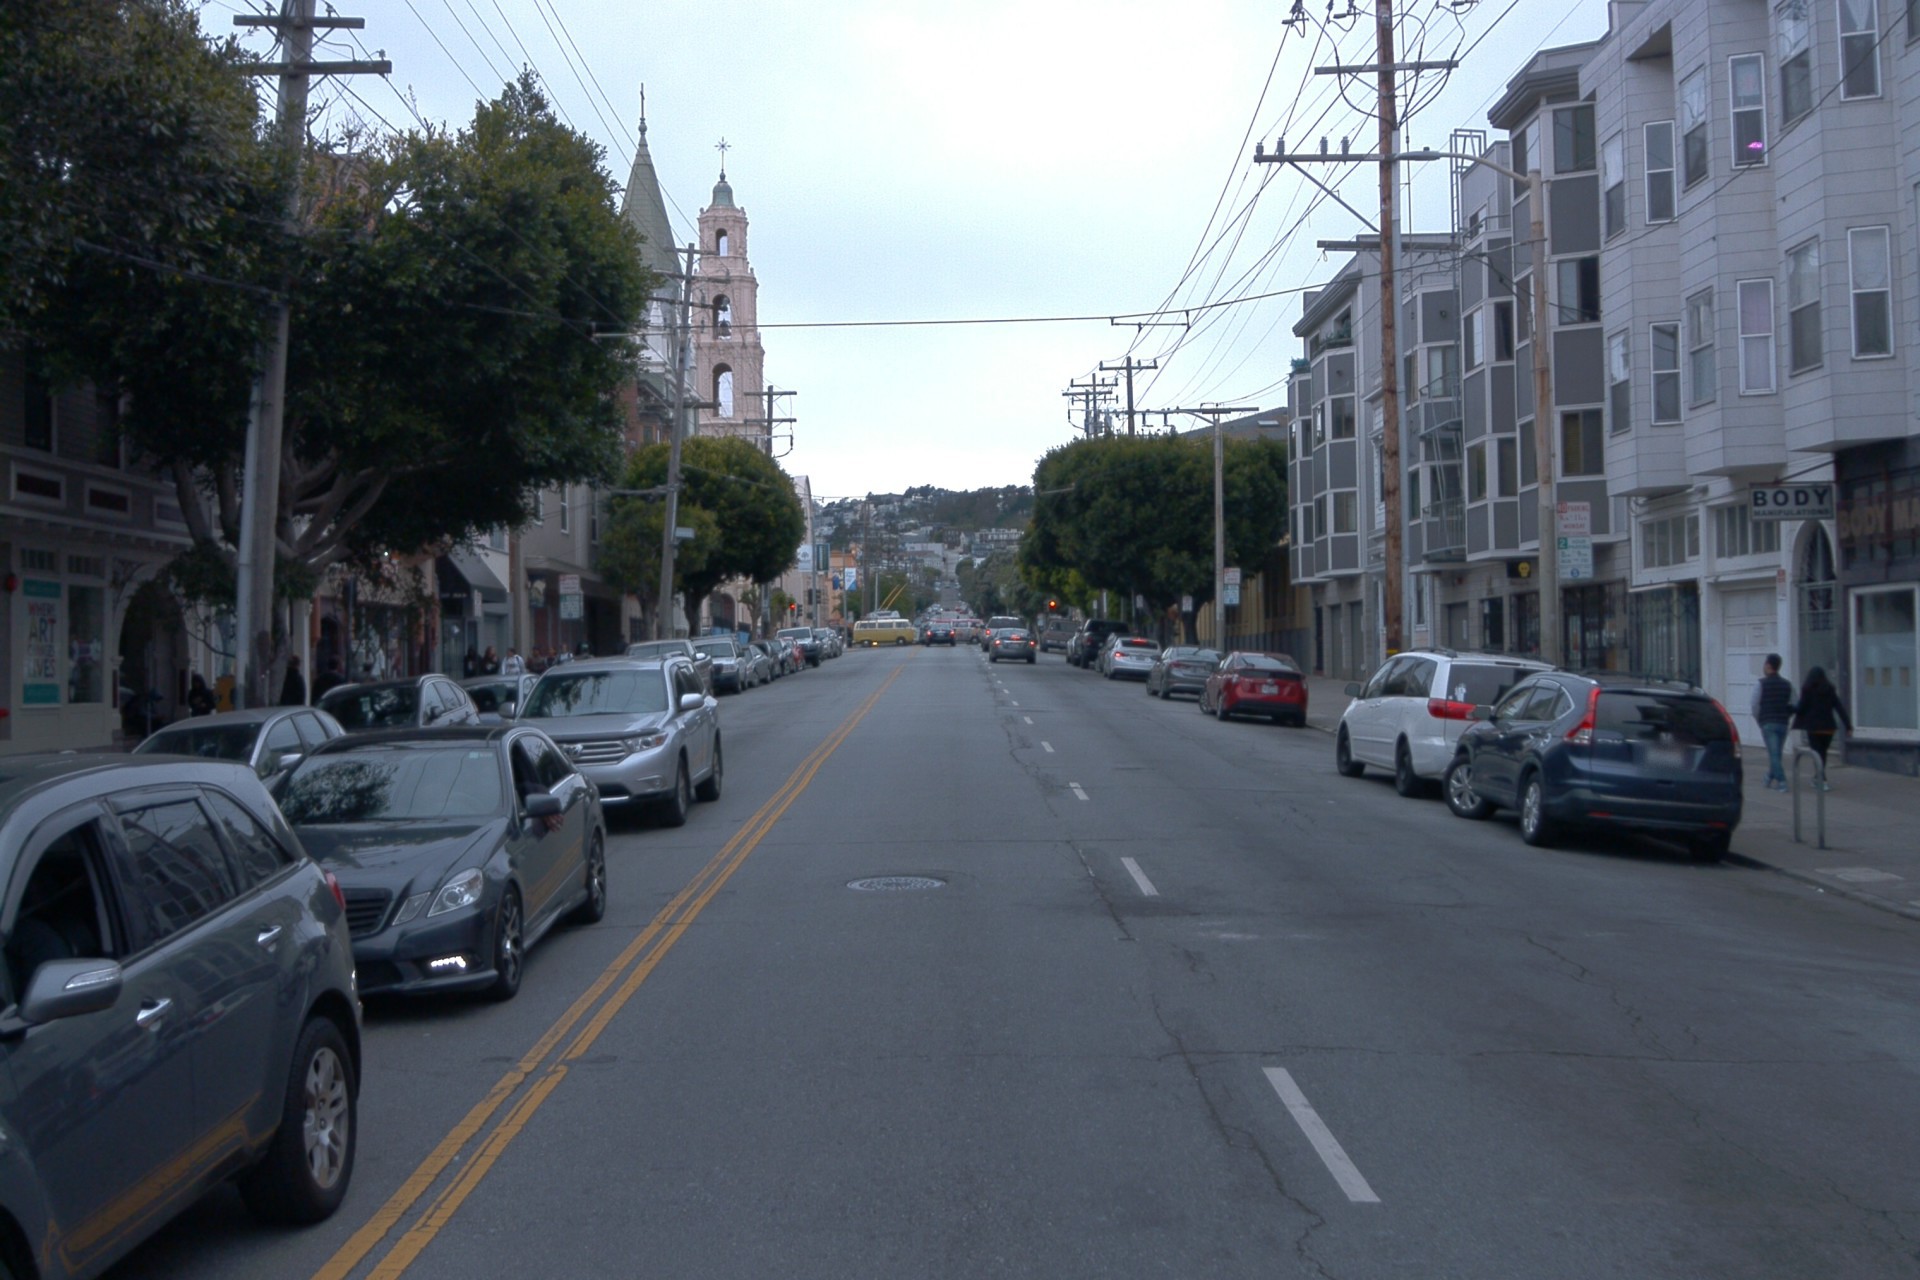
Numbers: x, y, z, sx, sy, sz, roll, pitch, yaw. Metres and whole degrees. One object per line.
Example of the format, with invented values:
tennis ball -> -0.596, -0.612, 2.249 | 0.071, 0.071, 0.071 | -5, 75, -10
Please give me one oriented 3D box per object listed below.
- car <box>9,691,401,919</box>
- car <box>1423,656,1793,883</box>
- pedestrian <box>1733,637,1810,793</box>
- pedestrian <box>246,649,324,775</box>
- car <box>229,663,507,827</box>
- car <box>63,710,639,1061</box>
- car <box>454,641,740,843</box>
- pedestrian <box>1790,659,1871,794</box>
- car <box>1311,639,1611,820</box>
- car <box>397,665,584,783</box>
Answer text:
car -> -7.180, 1.497, 20.087 | 2.121, 1.810, 4.216 | 0, 1, 3
car -> 6.243, 1.162, 20.478 | 2.117, 1.880, 4.638 | 0, 1, -1
pedestrian -> 9.725, 0.884, 24.649 | 0.640, 1.824, 0.732 | 0, 1, 2
pedestrian -> -10.747, 1.136, 32.775 | 0.832, 1.950, 1.110 | 0, 1, 2
car -> -7.255, 1.222, 25.744 | 2.148, 1.730, 4.656 | 0, 1, 0
car -> -3.462, 1.326, 12.830 | 2.136, 1.530, 4.854 | 0, 1, 0
car -> -3.725, 0.975, 22.052 | 2.175, 1.839, 4.847 | 0, 1, 1
pedestrian -> 10.364, 1.021, 24.499 | 0.684, 1.560, 0.630 | 0, 1, 1
car -> 6.065, 1.006, 25.643 | 2.296, 1.930, 5.235 | 0, 1, -2
car -> -7.232, 1.253, 32.086 | 1.871, 1.607, 4.092 | 0, 1, 2
